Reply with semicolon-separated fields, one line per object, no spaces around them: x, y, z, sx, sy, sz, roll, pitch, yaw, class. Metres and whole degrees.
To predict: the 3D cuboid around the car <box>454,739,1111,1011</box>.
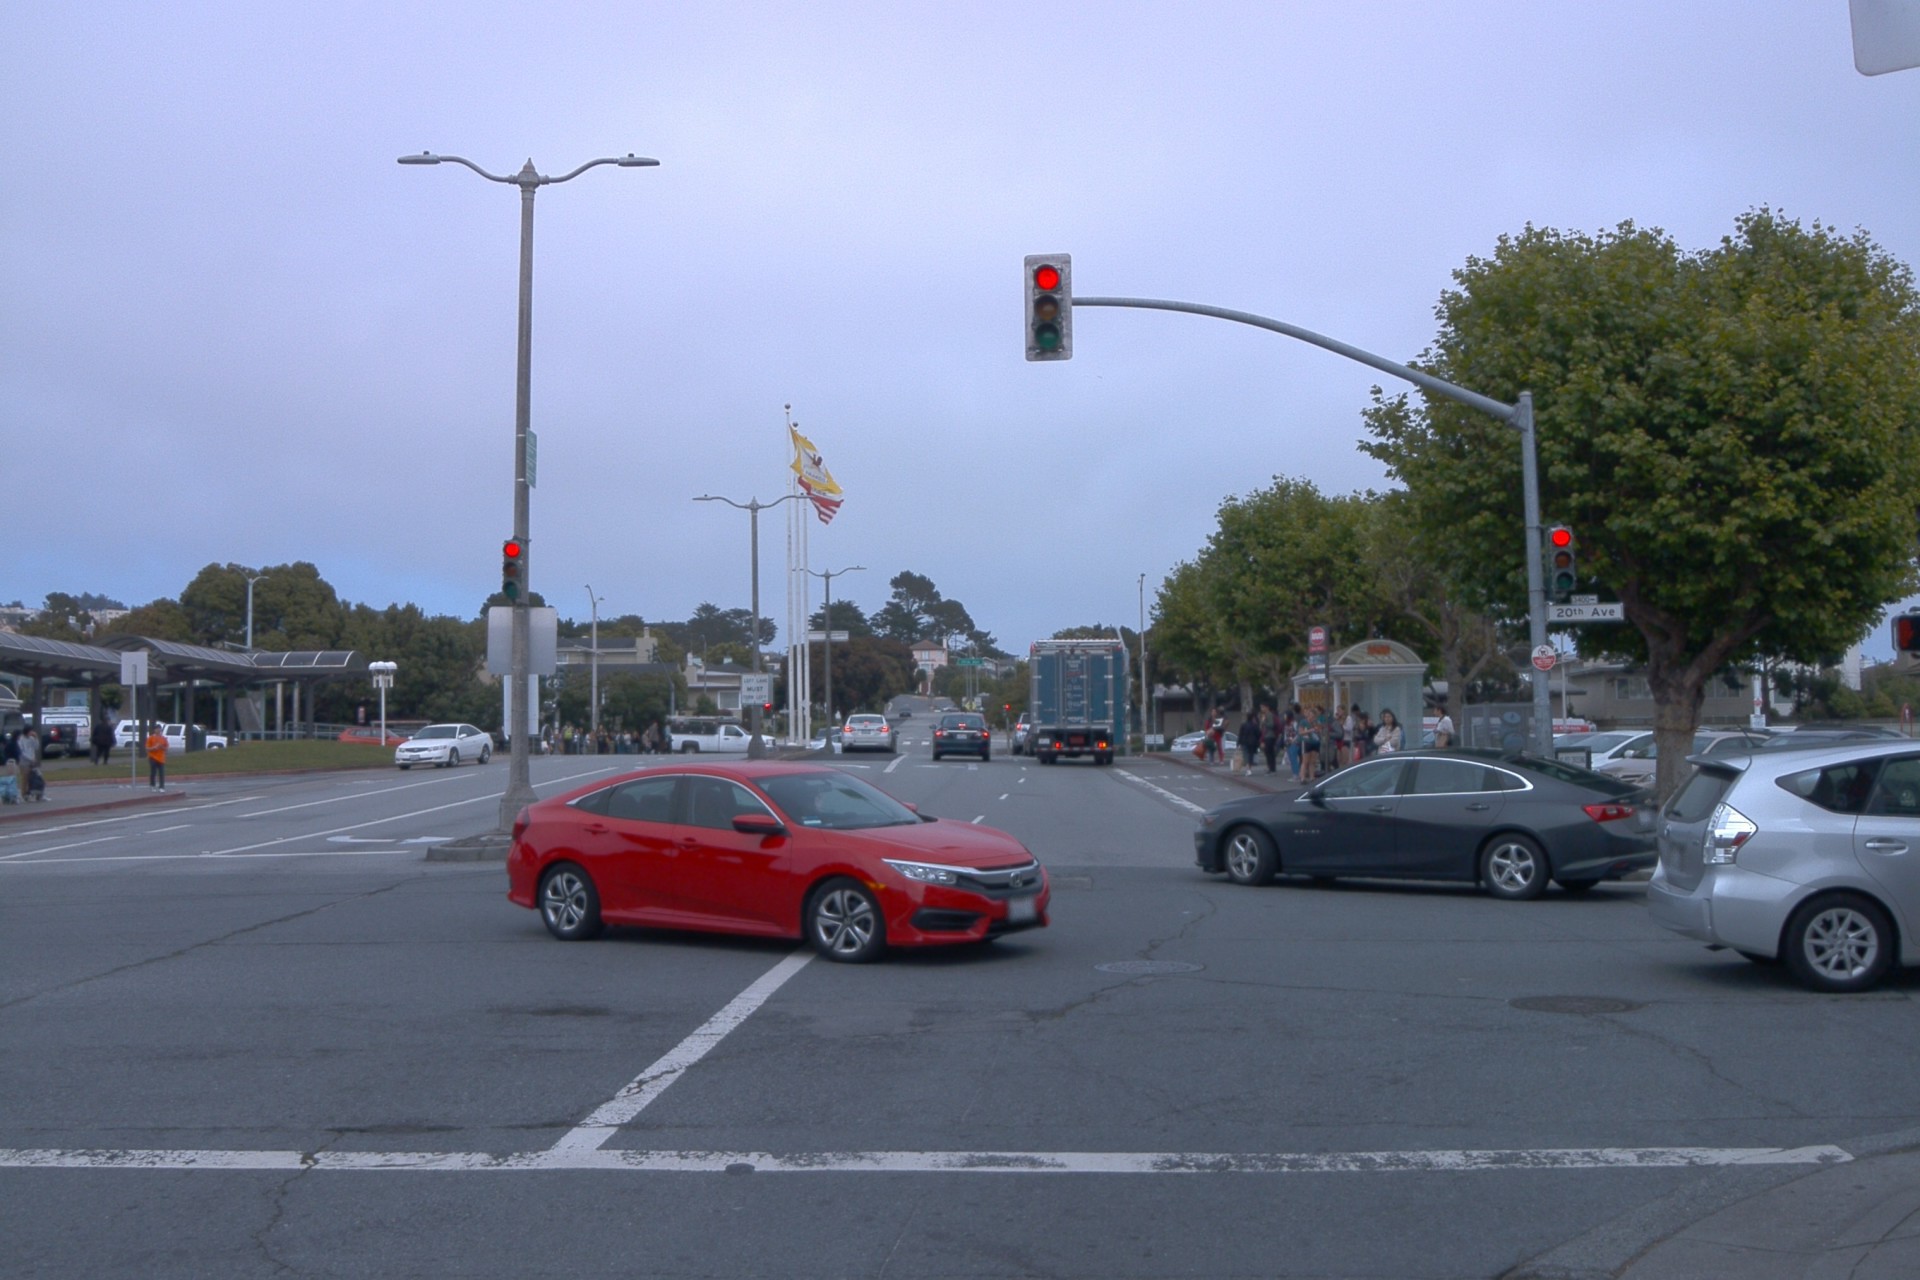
-1.432;1.662;15.839;4.671;1.526;2.272;0;1;35;car

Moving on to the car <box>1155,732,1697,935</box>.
4.618;1.834;20.725;4.909;1.570;2.080;0;1;36;car
